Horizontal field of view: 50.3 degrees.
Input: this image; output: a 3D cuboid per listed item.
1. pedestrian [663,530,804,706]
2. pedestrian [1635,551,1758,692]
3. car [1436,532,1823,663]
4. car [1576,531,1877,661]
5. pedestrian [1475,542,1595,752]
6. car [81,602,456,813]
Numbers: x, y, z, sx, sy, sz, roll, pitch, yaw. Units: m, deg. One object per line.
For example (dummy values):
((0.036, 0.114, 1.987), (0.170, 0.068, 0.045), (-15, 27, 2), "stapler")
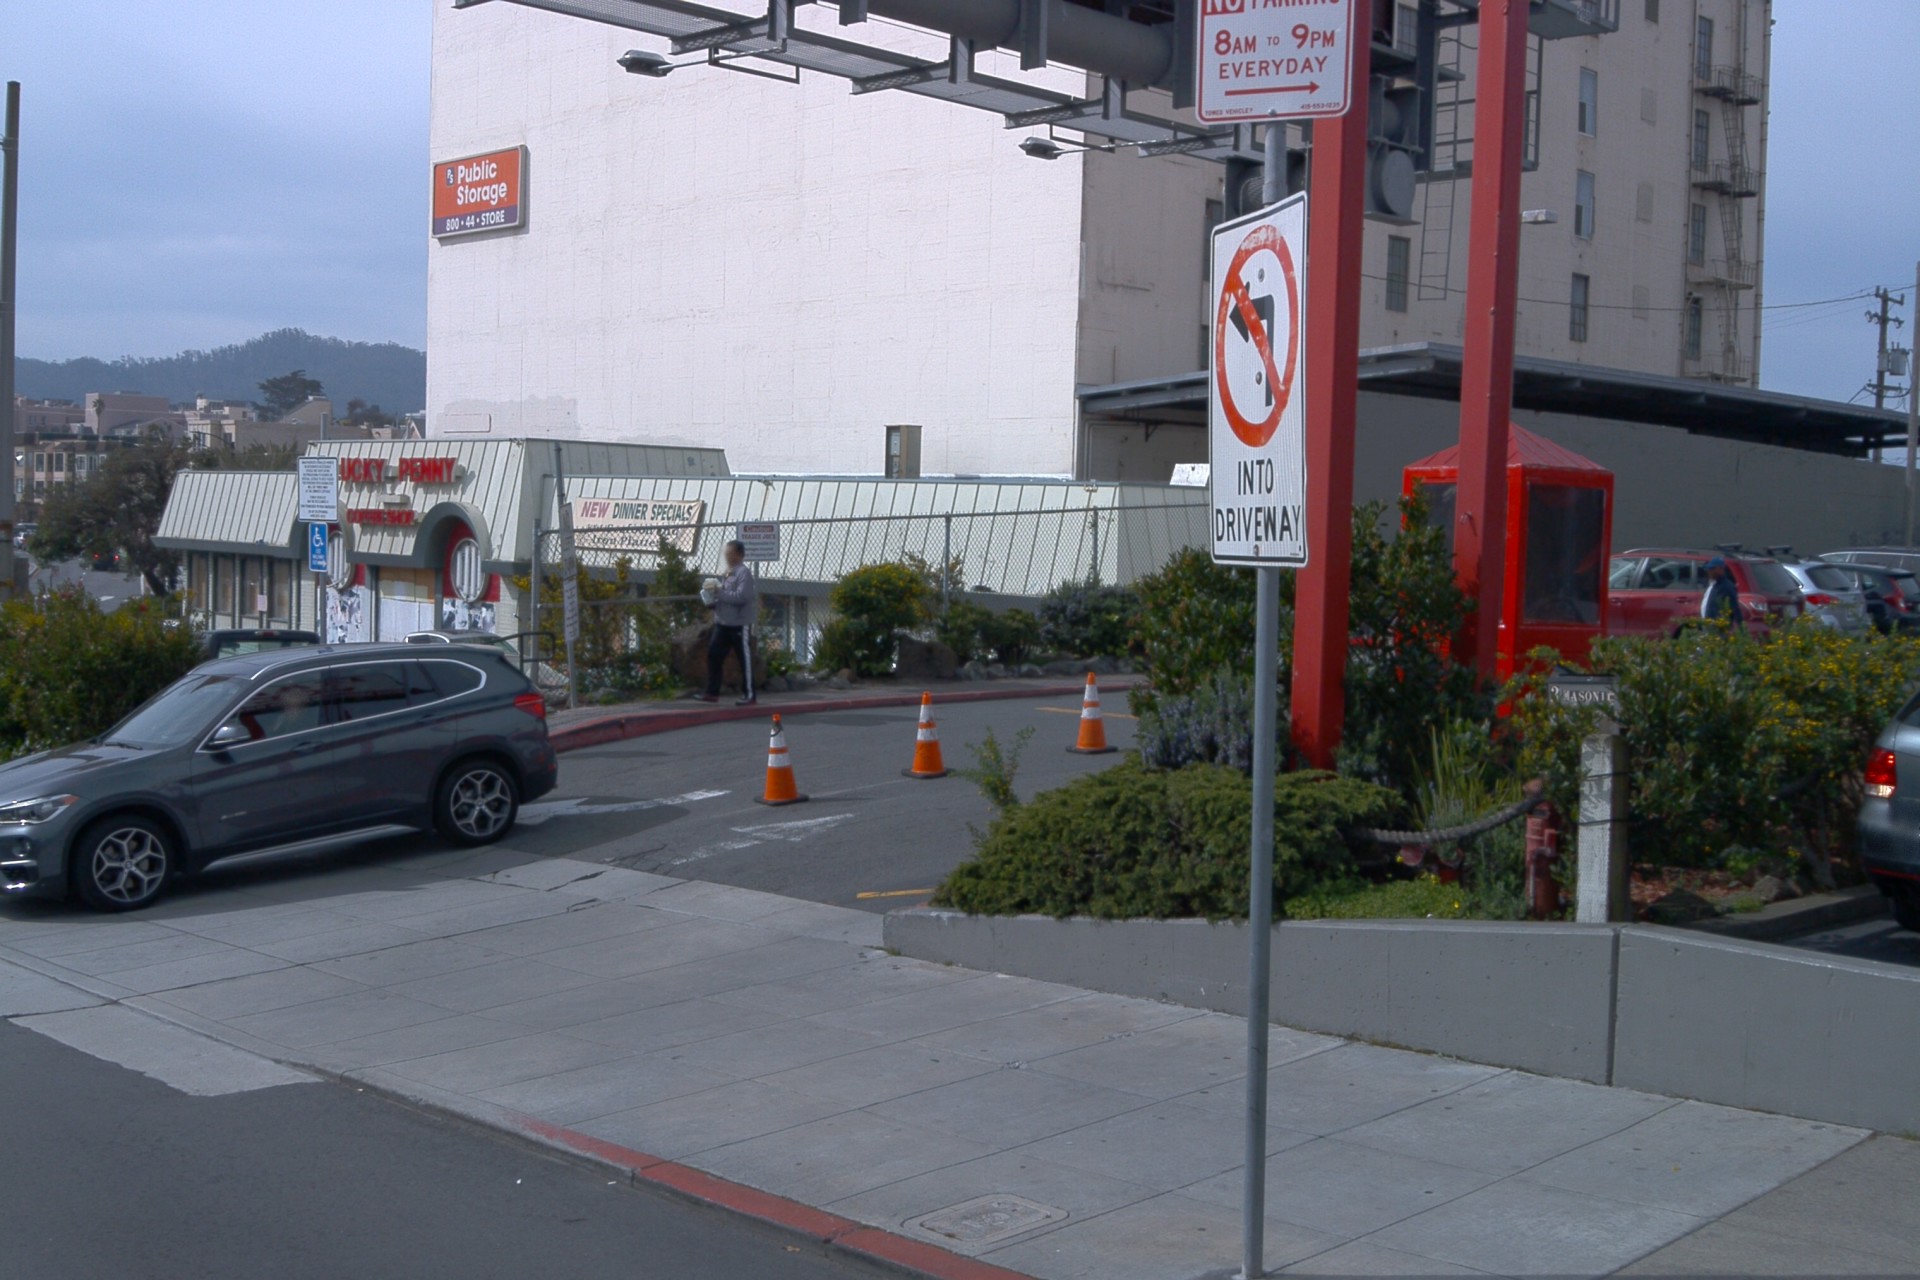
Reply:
((-2.322, -0.219, 20.949), (1.076, 1.744, 0.943), (0, 1, -40), "pedestrian")
((8.960, -0.216, 24.907), (0.950, 1.670, 1.009), (0, 0, -27), "pedestrian")
((9.499, -0.581, 29.288), (4.792, 1.720, 2.132), (1, 0, 44), "car")
((11.673, -0.643, 31.272), (3.837, 1.850, 1.941), (1, 0, 44), "car")
((5.408, 0.059, 19.237), (0.824, 1.920, 0.796), (1, 1, 38), "pedestrian")
((-7.784, 0.652, 22.763), (4.798, 2.110, 1.999), (1, 0, 45), "car")
